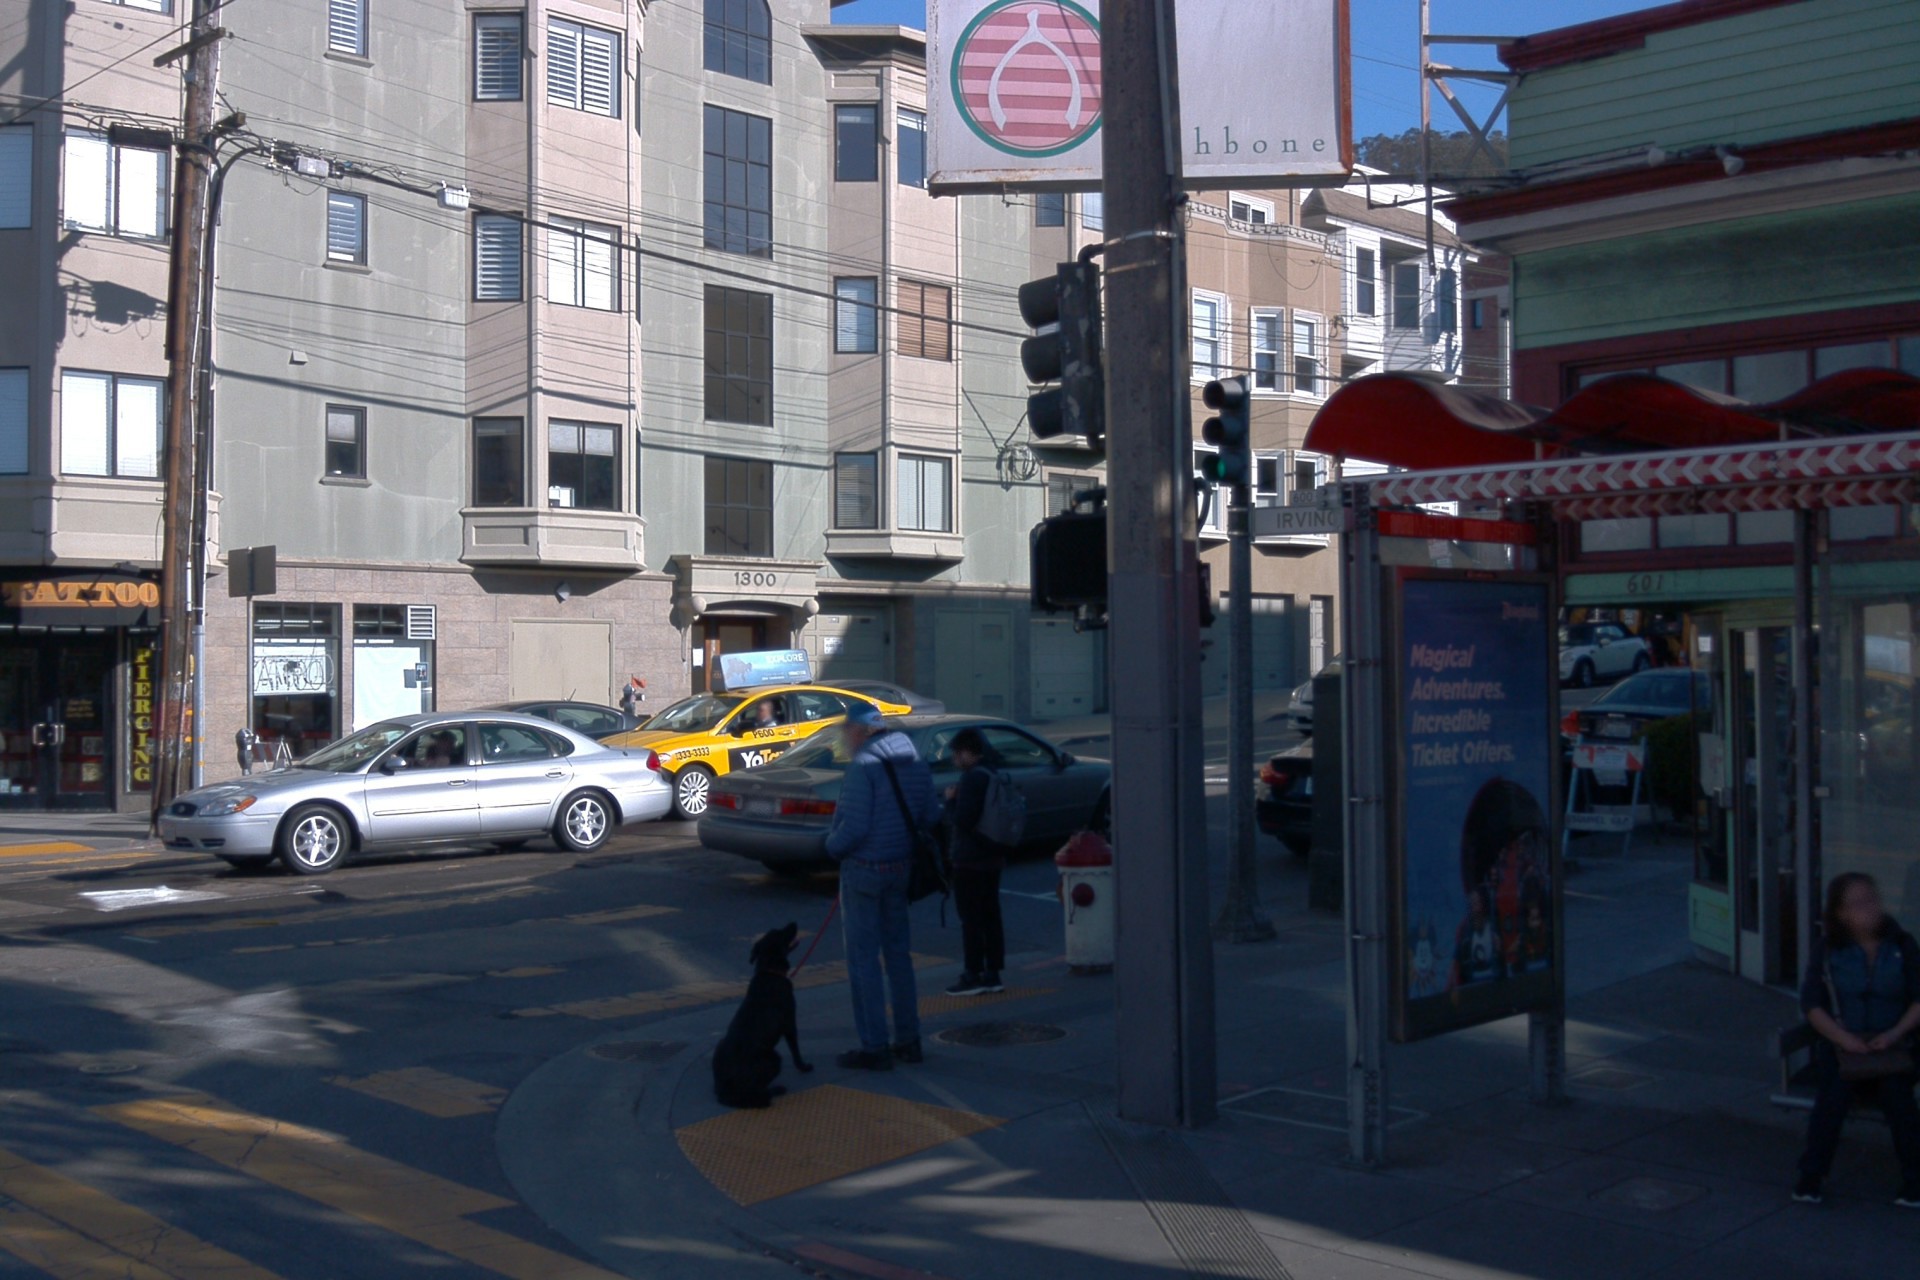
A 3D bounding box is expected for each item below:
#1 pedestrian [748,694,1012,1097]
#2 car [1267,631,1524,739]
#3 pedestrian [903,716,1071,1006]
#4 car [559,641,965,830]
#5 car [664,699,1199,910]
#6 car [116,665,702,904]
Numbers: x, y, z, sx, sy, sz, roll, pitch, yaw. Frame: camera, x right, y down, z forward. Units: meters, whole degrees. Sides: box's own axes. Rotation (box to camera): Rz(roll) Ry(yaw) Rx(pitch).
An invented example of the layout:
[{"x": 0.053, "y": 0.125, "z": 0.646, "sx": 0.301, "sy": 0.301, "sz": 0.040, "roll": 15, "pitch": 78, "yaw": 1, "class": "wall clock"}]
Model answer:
[{"x": -0.395, "y": 1.212, "z": 10.465, "sx": 0.894, "sy": 1.860, "sz": 0.955, "roll": 1, "pitch": 0, "yaw": 38, "class": "pedestrian"}, {"x": 7.257, "y": 0.717, "z": 34.654, "sx": 4.554, "sy": 1.680, "sz": 1.896, "roll": 1, "pitch": 0, "yaw": -44, "class": "car"}, {"x": 0.167, "y": 1.343, "z": 13.044, "sx": 0.687, "sy": 1.700, "sz": 0.778, "roll": 0, "pitch": 0, "yaw": -43, "class": "pedestrian"}, {"x": -2.334, "y": 1.087, "z": 25.757, "sx": 2.070, "sy": 2.100, "sz": 4.772, "roll": 1, "pitch": 0, "yaw": 43, "class": "car"}, {"x": -0.128, "y": 1.390, "z": 19.284, "sx": 2.077, "sy": 1.590, "sz": 4.904, "roll": 0, "pitch": 0, "yaw": 43, "class": "car"}, {"x": -5.309, "y": 1.284, "z": 20.524, "sx": 5.035, "sy": 2.030, "sz": 2.283, "roll": 1, "pitch": 0, "yaw": -38, "class": "car"}]
